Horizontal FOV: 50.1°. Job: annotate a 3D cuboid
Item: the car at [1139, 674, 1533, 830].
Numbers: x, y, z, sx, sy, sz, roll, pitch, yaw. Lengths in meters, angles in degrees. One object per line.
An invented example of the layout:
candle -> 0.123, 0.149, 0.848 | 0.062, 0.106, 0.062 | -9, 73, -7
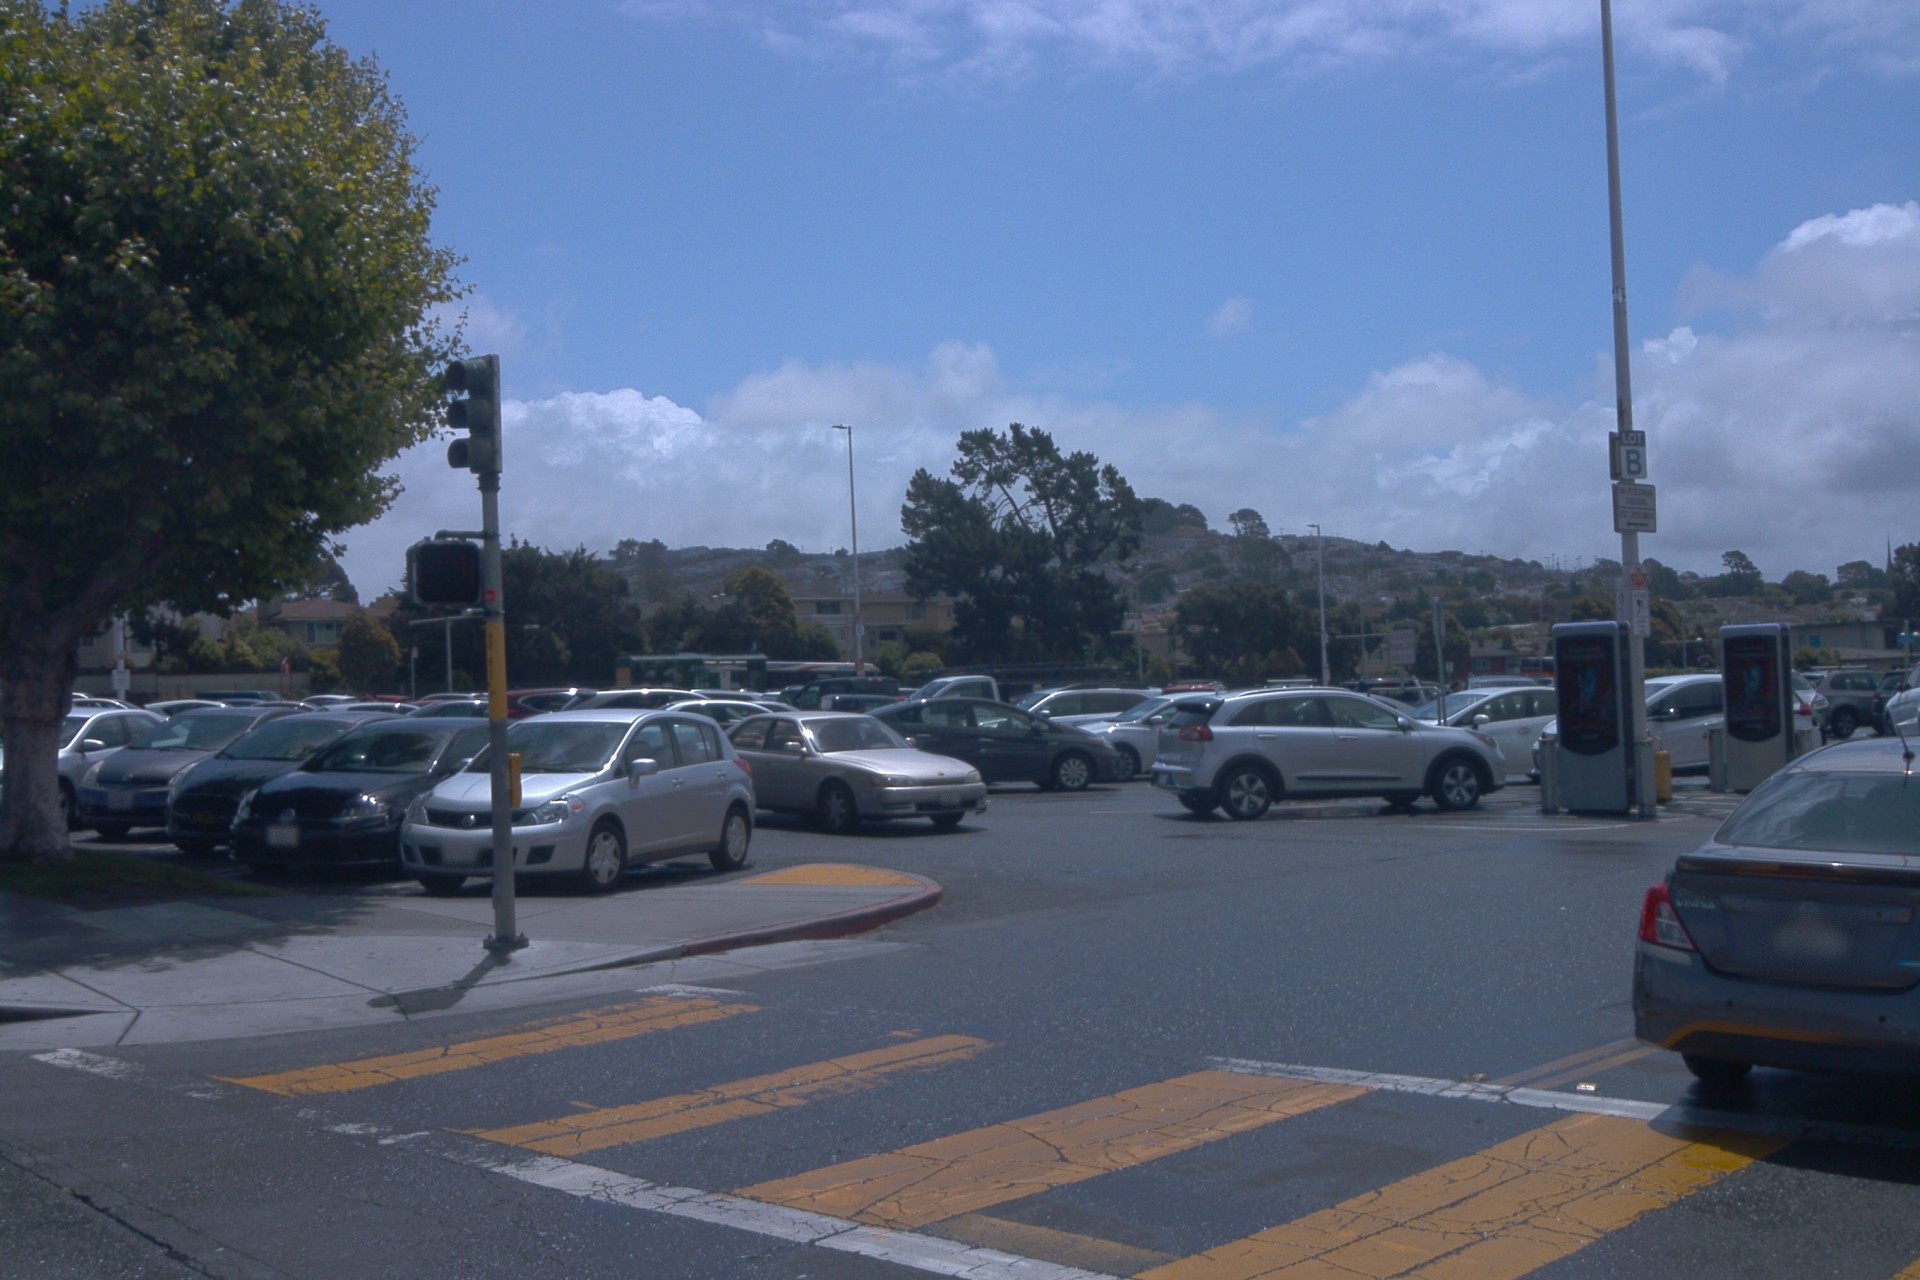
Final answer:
car -> 4.560, 1.320, 25.178 | 4.317, 1.710, 1.952 | 0, 1, -13

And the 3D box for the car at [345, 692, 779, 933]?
car -> -3.352, 1.397, 18.268 | 1.980, 1.700, 4.257 | 0, 1, 18

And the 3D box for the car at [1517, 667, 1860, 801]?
car -> 10.223, 1.272, 28.935 | 4.200, 1.700, 1.892 | 0, 1, -15

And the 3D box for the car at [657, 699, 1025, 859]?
car -> -1.562, 1.596, 25.042 | 2.050, 1.550, 4.818 | -1, 1, -39

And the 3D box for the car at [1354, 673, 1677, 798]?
car -> 8.396, 1.399, 31.168 | 4.333, 1.700, 1.973 | 0, 1, -17

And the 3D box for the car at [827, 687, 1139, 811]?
car -> 0.315, 1.636, 31.727 | 4.438, 1.710, 2.056 | 0, 1, -12
